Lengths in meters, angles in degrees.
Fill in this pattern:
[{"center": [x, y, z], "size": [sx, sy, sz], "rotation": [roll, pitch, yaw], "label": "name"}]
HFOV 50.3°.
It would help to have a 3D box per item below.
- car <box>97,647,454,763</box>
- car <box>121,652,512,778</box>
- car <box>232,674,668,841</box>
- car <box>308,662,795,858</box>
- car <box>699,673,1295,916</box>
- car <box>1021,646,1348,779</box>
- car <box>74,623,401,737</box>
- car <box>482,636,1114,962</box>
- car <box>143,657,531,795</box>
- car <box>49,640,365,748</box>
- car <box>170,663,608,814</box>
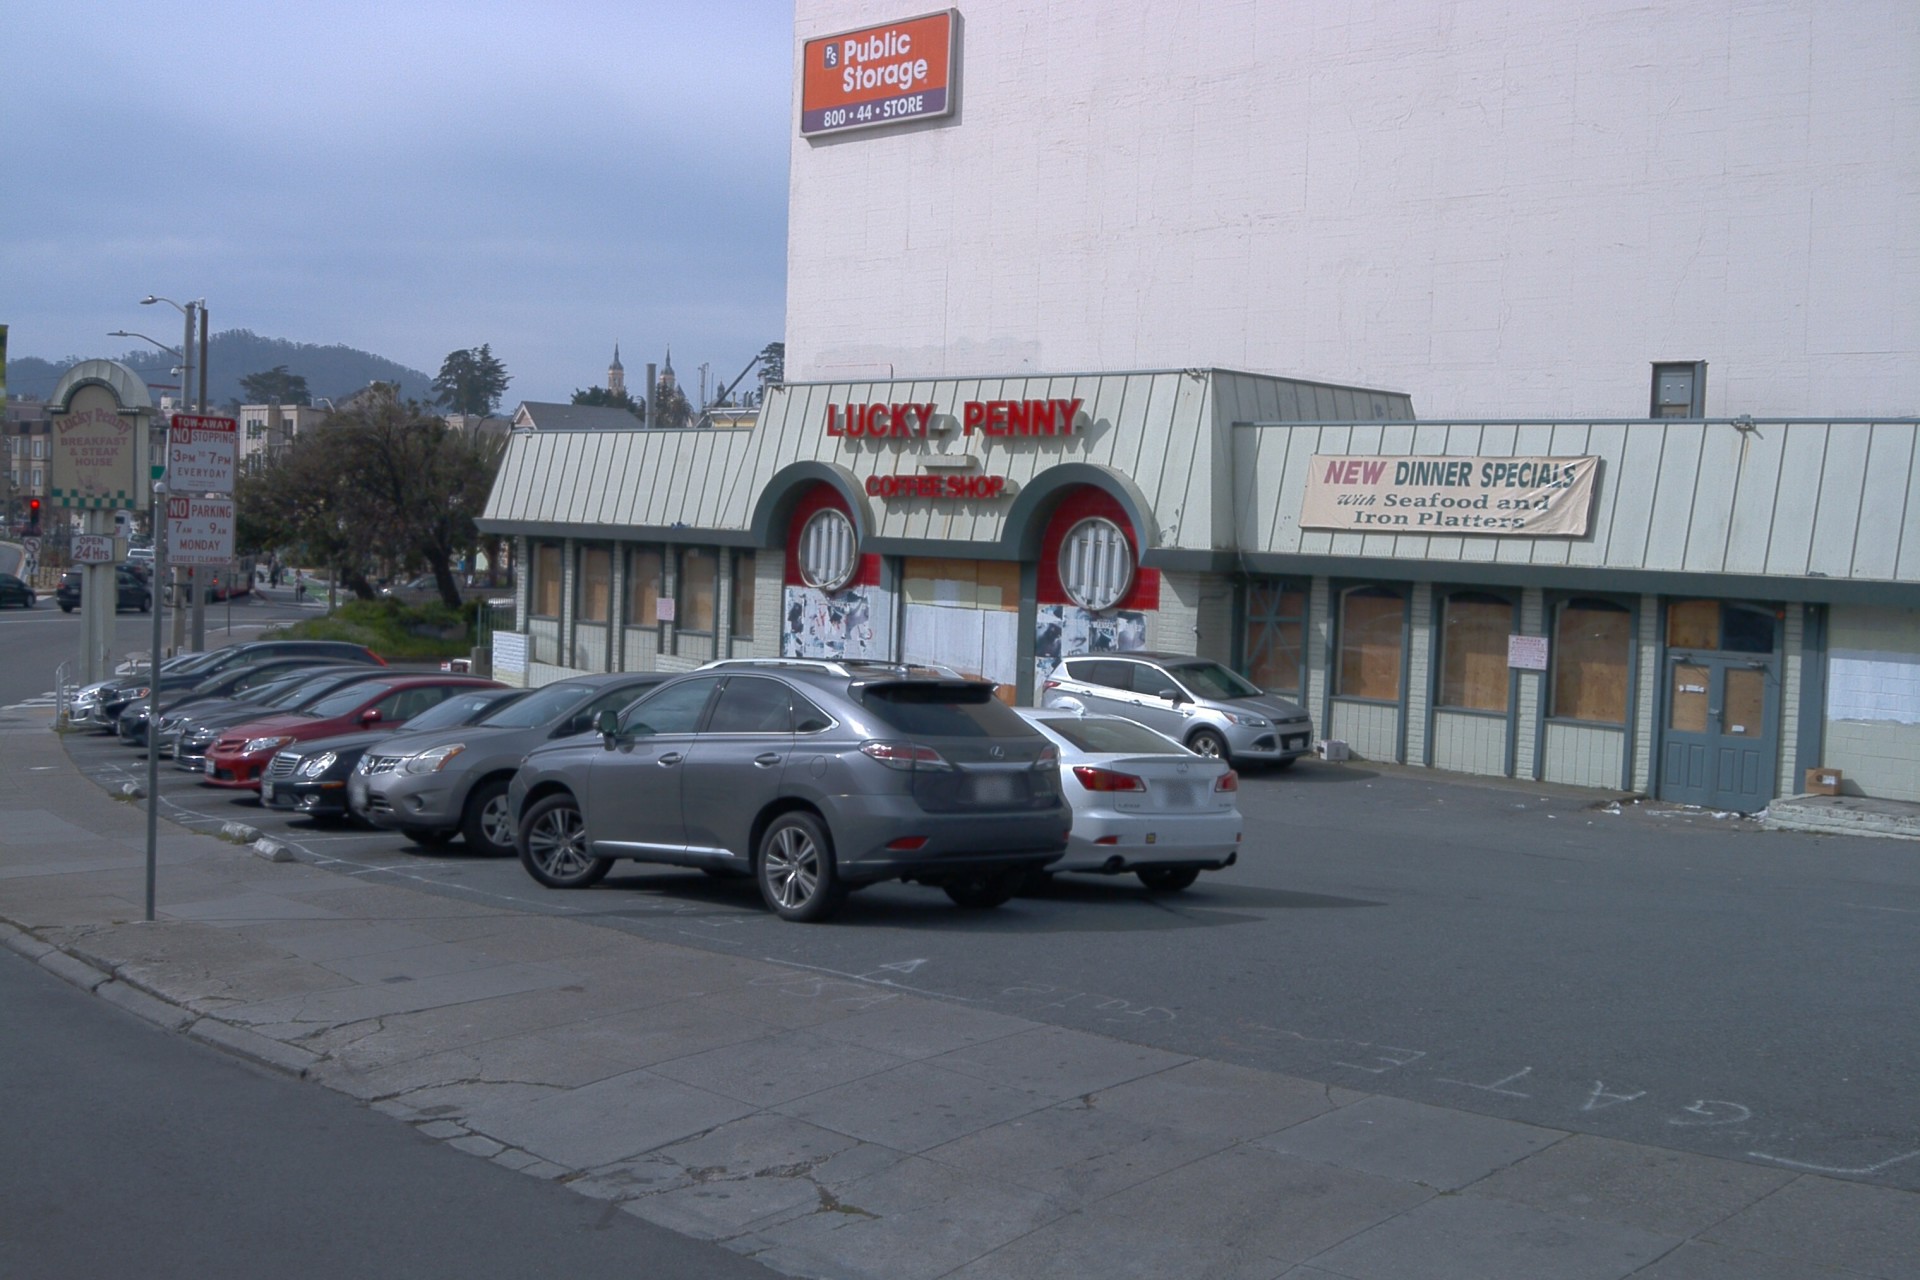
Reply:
[{"center": [-10.333, 0.923, 31.106], "size": [4.651, 1.610, 2.192], "rotation": [0, 0, -43], "label": "car"}, {"center": [-8.979, 0.982, 28.784], "size": [4.736, 1.590, 2.241], "rotation": [0, 0, -44], "label": "car"}, {"center": [-5.262, 1.149, 21.429], "size": [4.029, 1.500, 1.869], "rotation": [0, 0, -45], "label": "car"}, {"center": [-3.712, 1.018, 19.047], "size": [1.975, 1.570, 4.019], "rotation": [1, 0, 44], "label": "car"}, {"center": [0.161, 1.116, 16.693], "size": [2.088, 1.580, 4.738], "rotation": [0, 0, -44], "label": "car"}, {"center": [3.292, 1.011, 30.720], "size": [2.134, 1.790, 4.557], "rotation": [0, 0, -44], "label": "car"}, {"center": [-11.712, 0.609, 33.334], "size": [4.561, 1.710, 2.059], "rotation": [0, 0, -43], "label": "car"}, {"center": [-1.290, 0.954, 14.600], "size": [2.065, 1.920, 4.493], "rotation": [0, 0, -45], "label": "car"}, {"center": [-7.969, 1.035, 26.411], "size": [4.343, 1.580, 1.994], "rotation": [0, 0, -43], "label": "car"}, {"center": [-13.132, 0.895, 35.859], "size": [4.757, 1.740, 2.072], "rotation": [0, 0, -43], "label": "car"}, {"center": [-6.653, 1.073, 24.117], "size": [4.484, 1.550, 2.134], "rotation": [0, 0, -44], "label": "car"}]
